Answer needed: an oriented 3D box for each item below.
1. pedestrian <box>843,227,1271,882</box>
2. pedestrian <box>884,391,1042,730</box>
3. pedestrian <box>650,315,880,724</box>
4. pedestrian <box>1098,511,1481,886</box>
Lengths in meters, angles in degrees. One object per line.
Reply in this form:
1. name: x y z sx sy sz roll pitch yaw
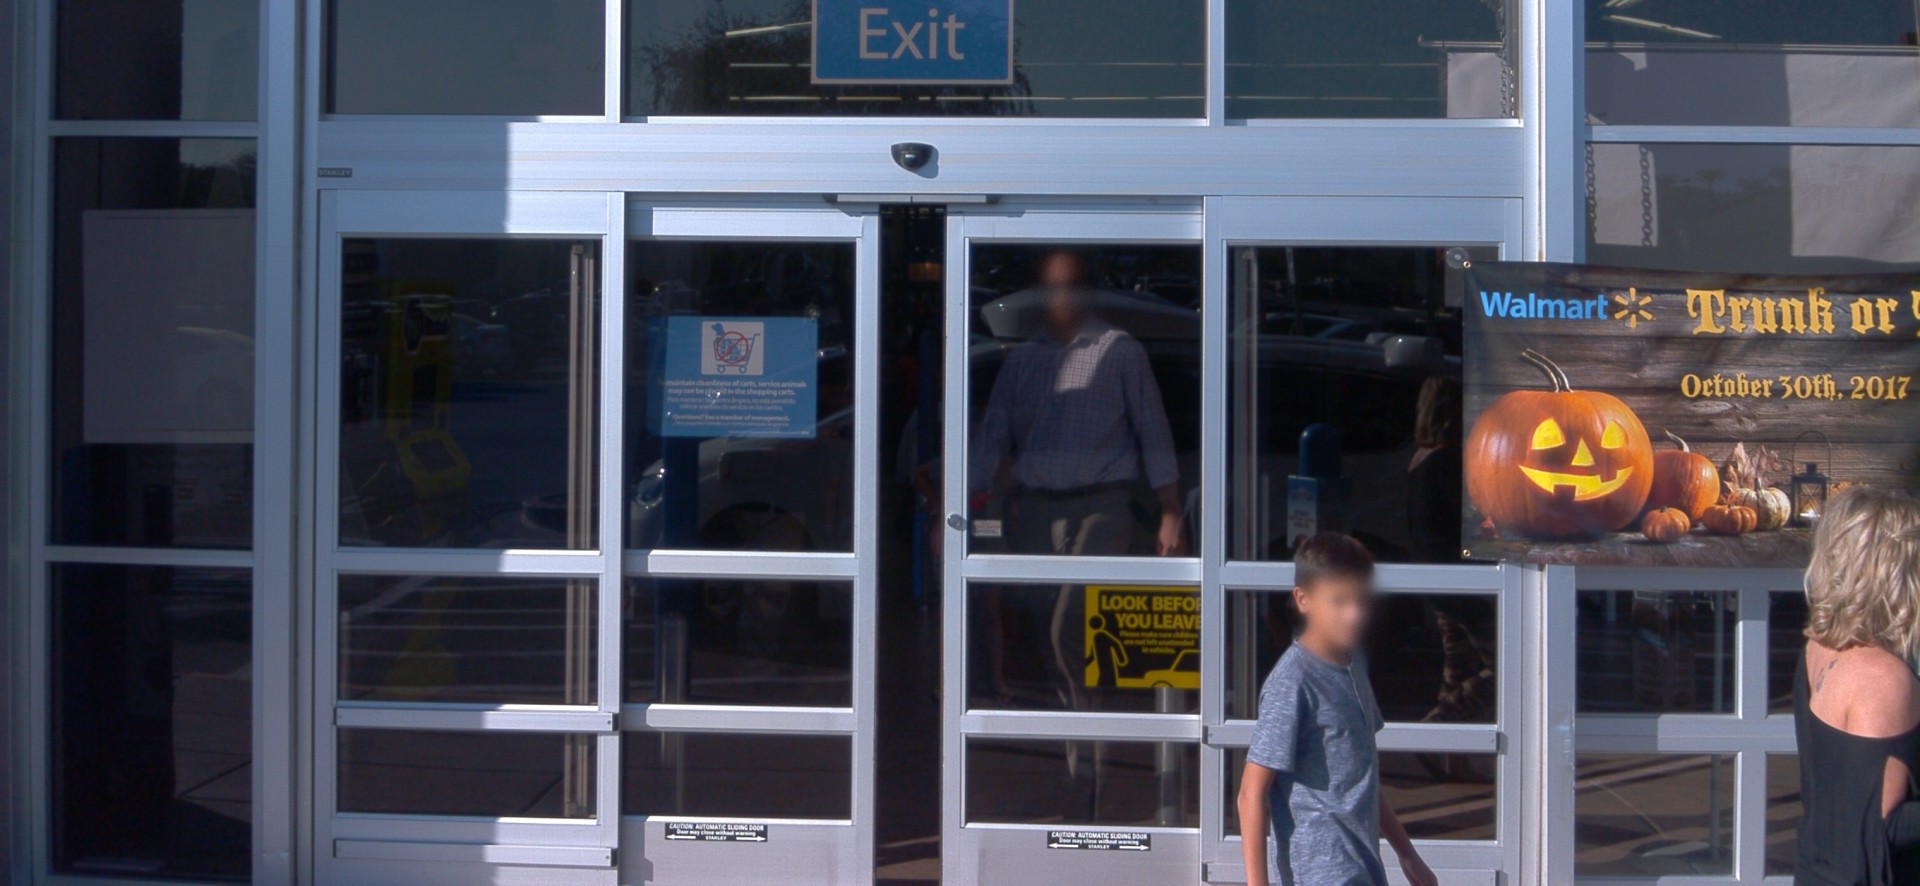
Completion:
1. pedestrian: 0.374 0.279 7.226 1.206 2.040 1.140 1 1 18
2. pedestrian: 0.021 0.438 8.210 0.536 1.240 0.545 1 1 9
3. pedestrian: -0.877 0.290 9.260 0.797 1.690 0.782 0 1 -24
4. pedestrian: 0.710 0.945 4.319 0.706 1.490 0.738 1 1 14
